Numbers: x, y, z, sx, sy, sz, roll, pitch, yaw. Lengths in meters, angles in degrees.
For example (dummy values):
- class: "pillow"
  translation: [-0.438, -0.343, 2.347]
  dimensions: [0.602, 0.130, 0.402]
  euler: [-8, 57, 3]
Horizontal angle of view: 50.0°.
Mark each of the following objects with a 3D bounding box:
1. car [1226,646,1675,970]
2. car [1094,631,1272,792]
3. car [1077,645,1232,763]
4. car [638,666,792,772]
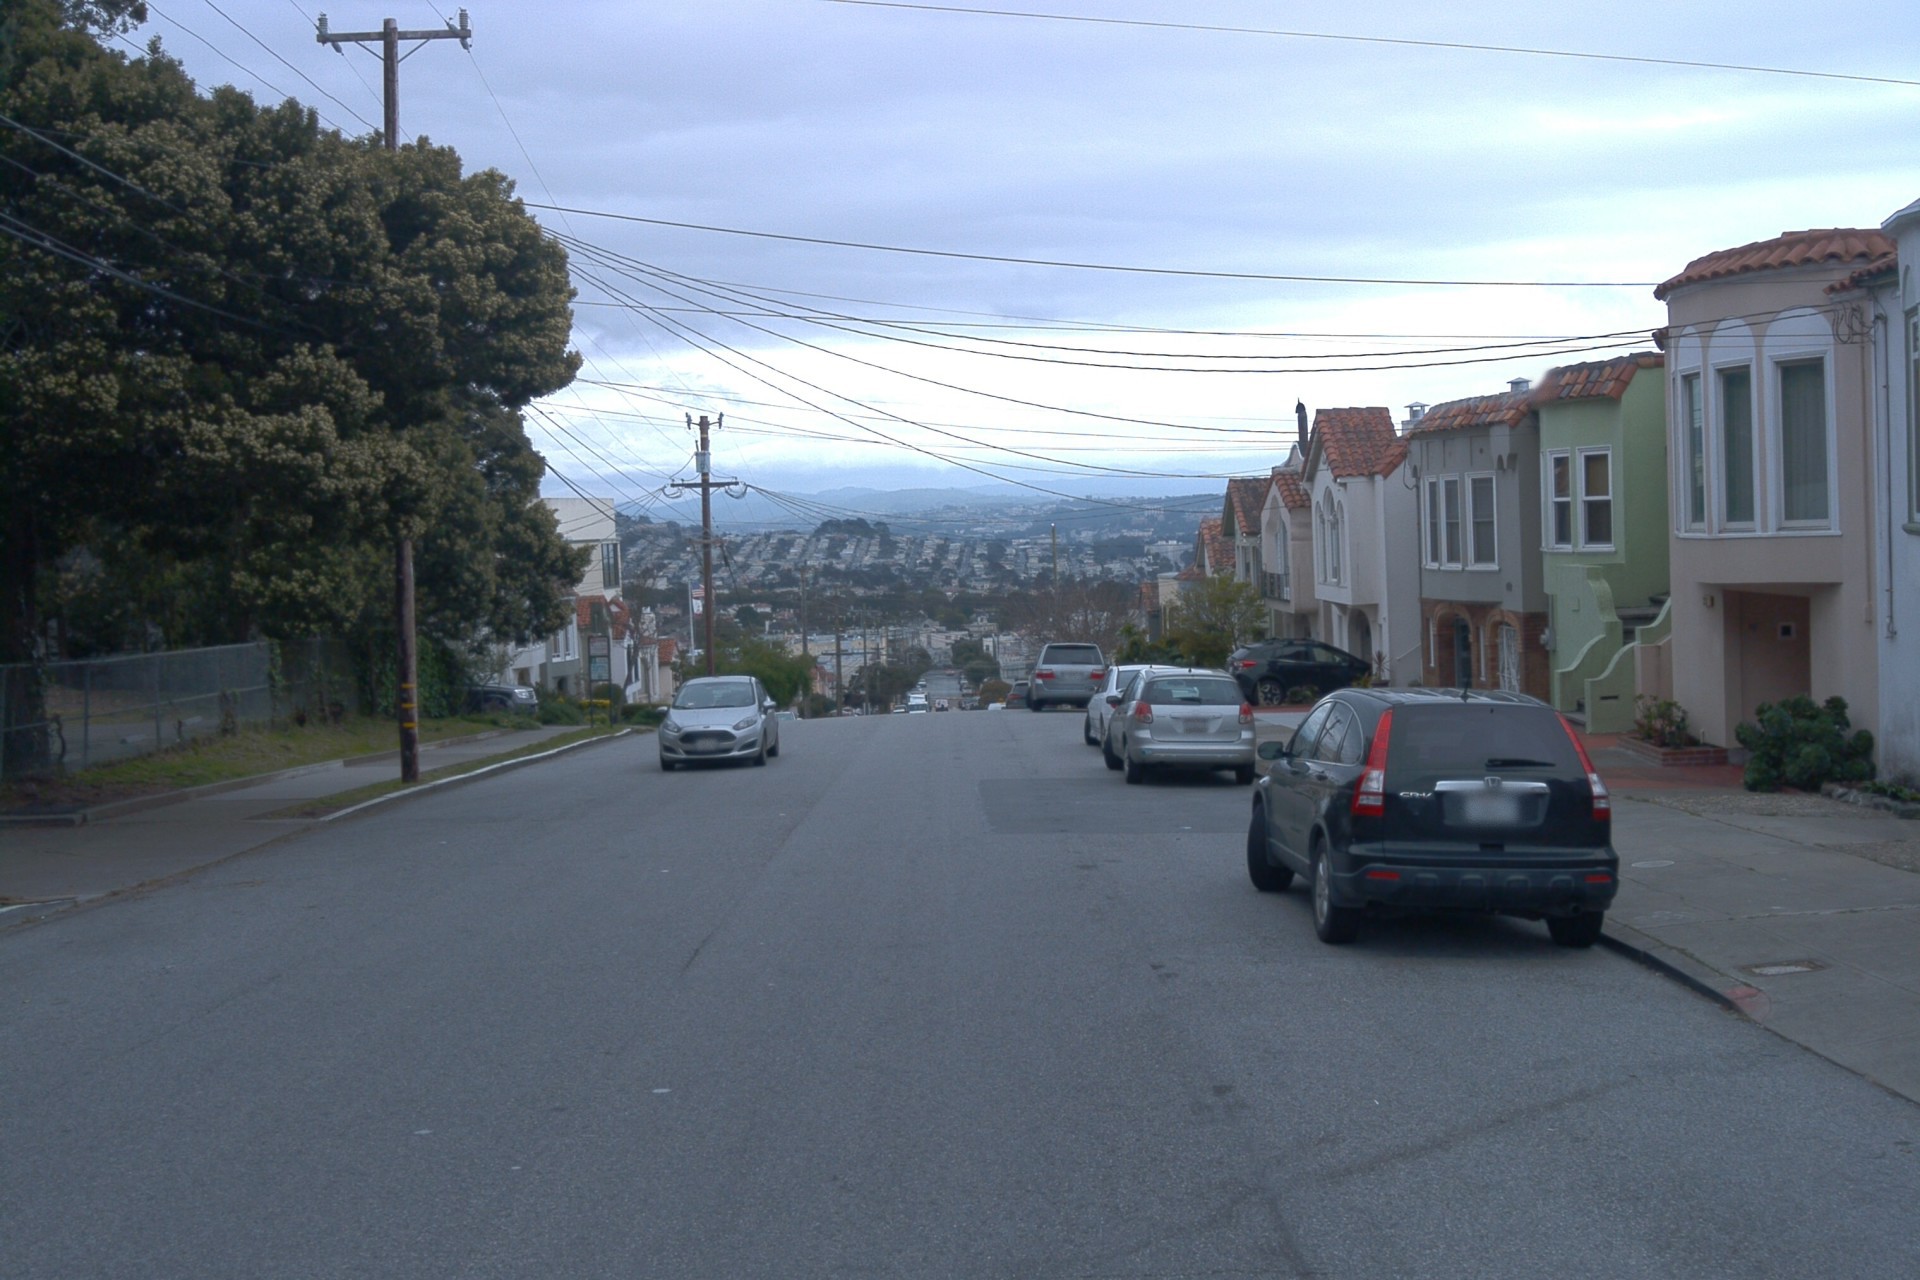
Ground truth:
- class: "car"
  translation: [3.281, 1.031, 14.821]
  dimensions: [2.174, 1.960, 4.531]
  euler: [0, 0, 0]
- class: "car"
  translation: [3.031, 0.930, 28.864]
  dimensions: [1.982, 2.084, 4.249]
  euler: [0, 0, -1]
- class: "car"
  translation: [3.223, 1.022, 35.061]
  dimensions: [2.089, 1.860, 4.613]
  euler: [0, 0, -2]
- class: "car"
  translation: [-3.972, 1.257, 34.081]
  dimensions: [2.049, 1.590, 4.175]
  euler: [0, 0, 0]
